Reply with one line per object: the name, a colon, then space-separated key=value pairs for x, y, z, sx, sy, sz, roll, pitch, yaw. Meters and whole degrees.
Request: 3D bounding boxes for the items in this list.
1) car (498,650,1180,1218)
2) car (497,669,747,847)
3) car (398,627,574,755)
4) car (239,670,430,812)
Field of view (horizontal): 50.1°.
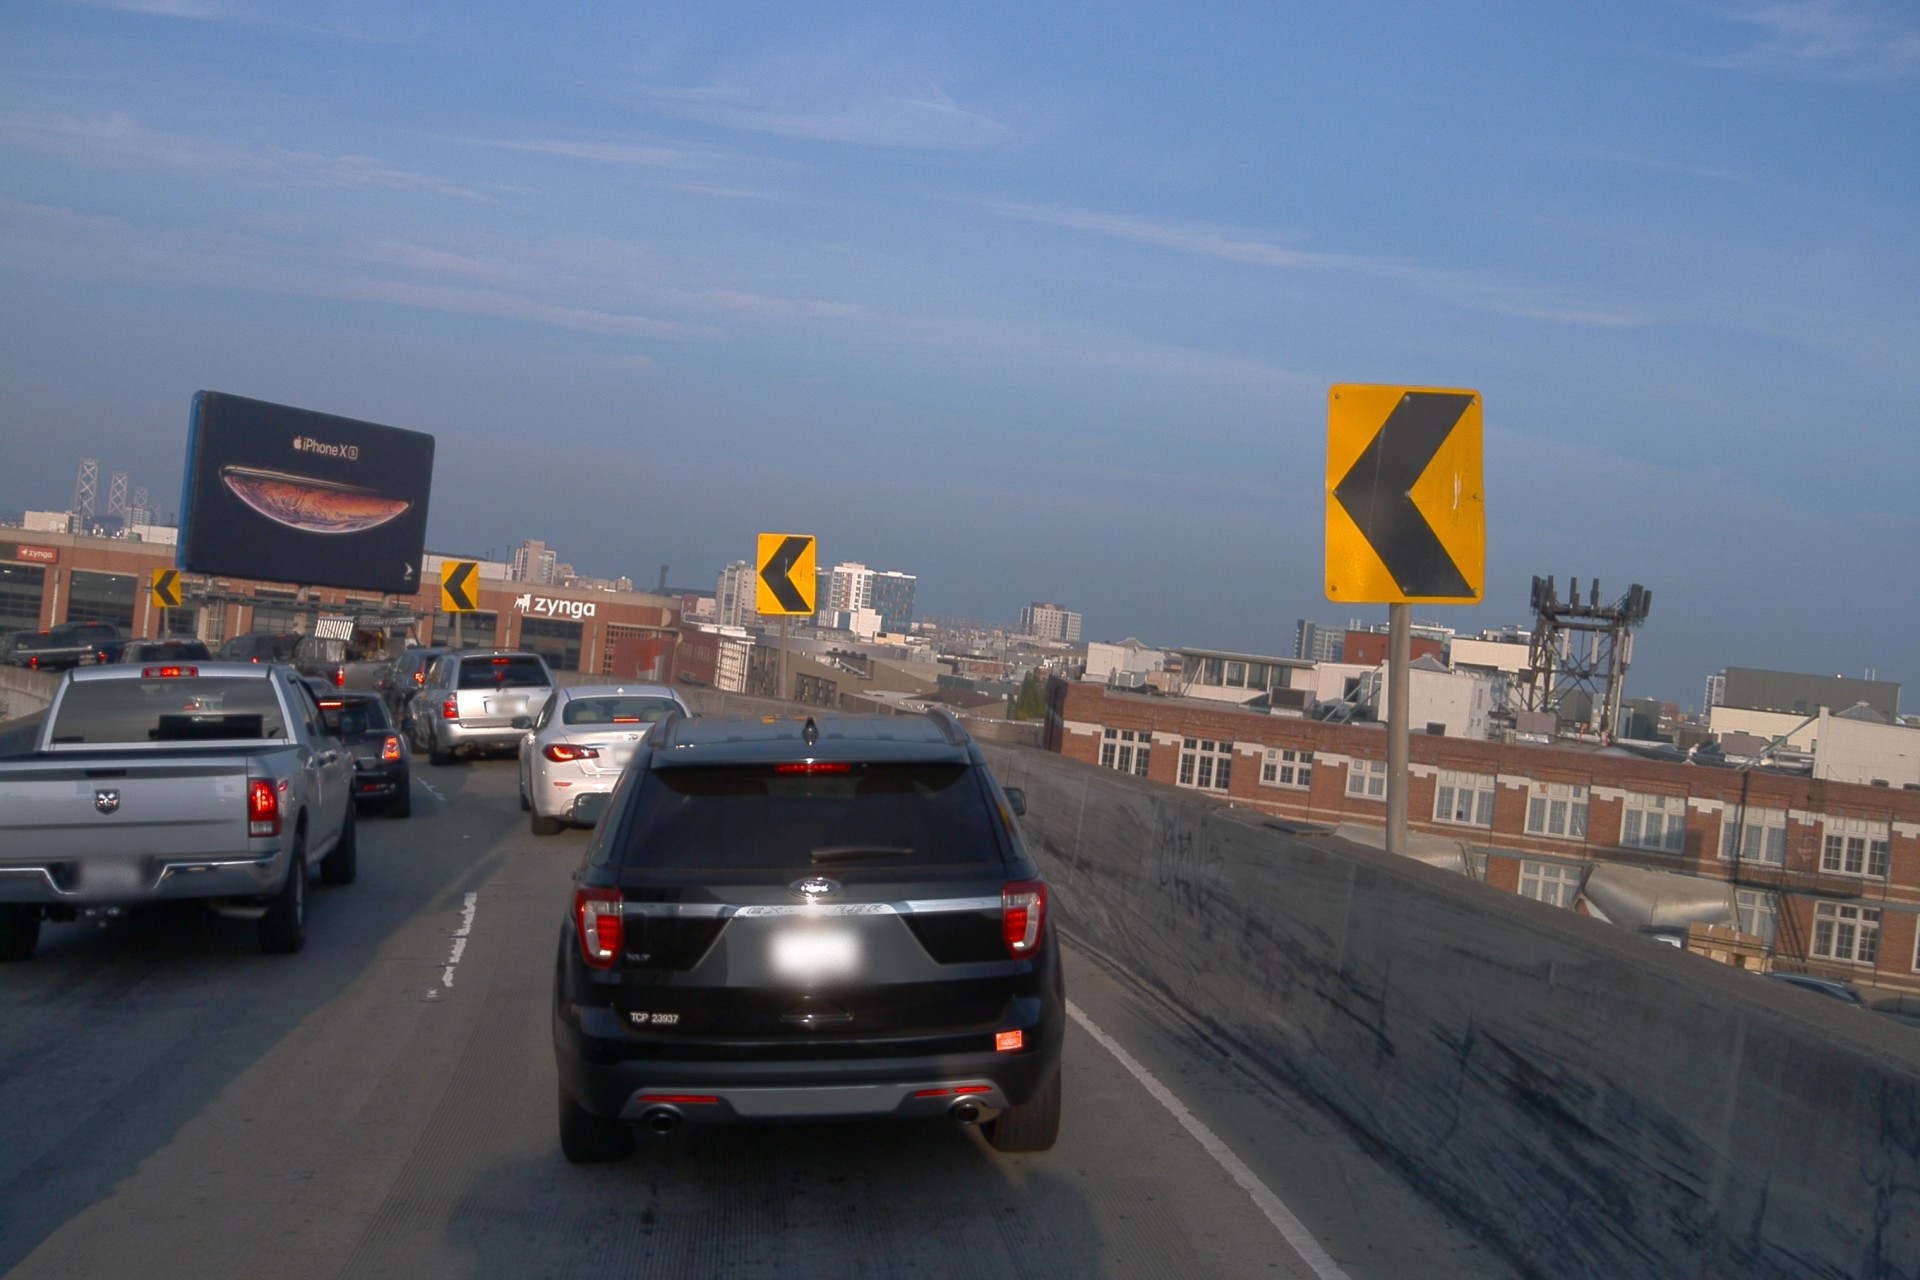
car: x=-0.708 y=0.995 z=9.440 sx=2.327 sy=1.850 sz=4.877 roll=0 pitch=0 yaw=-8
car: x=-3.715 y=1.155 z=21.869 sx=2.144 sy=1.590 sz=4.509 roll=0 pitch=0 yaw=-16
car: x=-7.411 y=0.723 z=31.790 sx=1.992 sy=1.820 sz=4.394 roll=0 pitch=0 yaw=-22
car: x=-7.180 y=1.092 z=23.838 sx=1.934 sy=1.411 sz=4.084 roll=0 pitch=0 yaw=-15
